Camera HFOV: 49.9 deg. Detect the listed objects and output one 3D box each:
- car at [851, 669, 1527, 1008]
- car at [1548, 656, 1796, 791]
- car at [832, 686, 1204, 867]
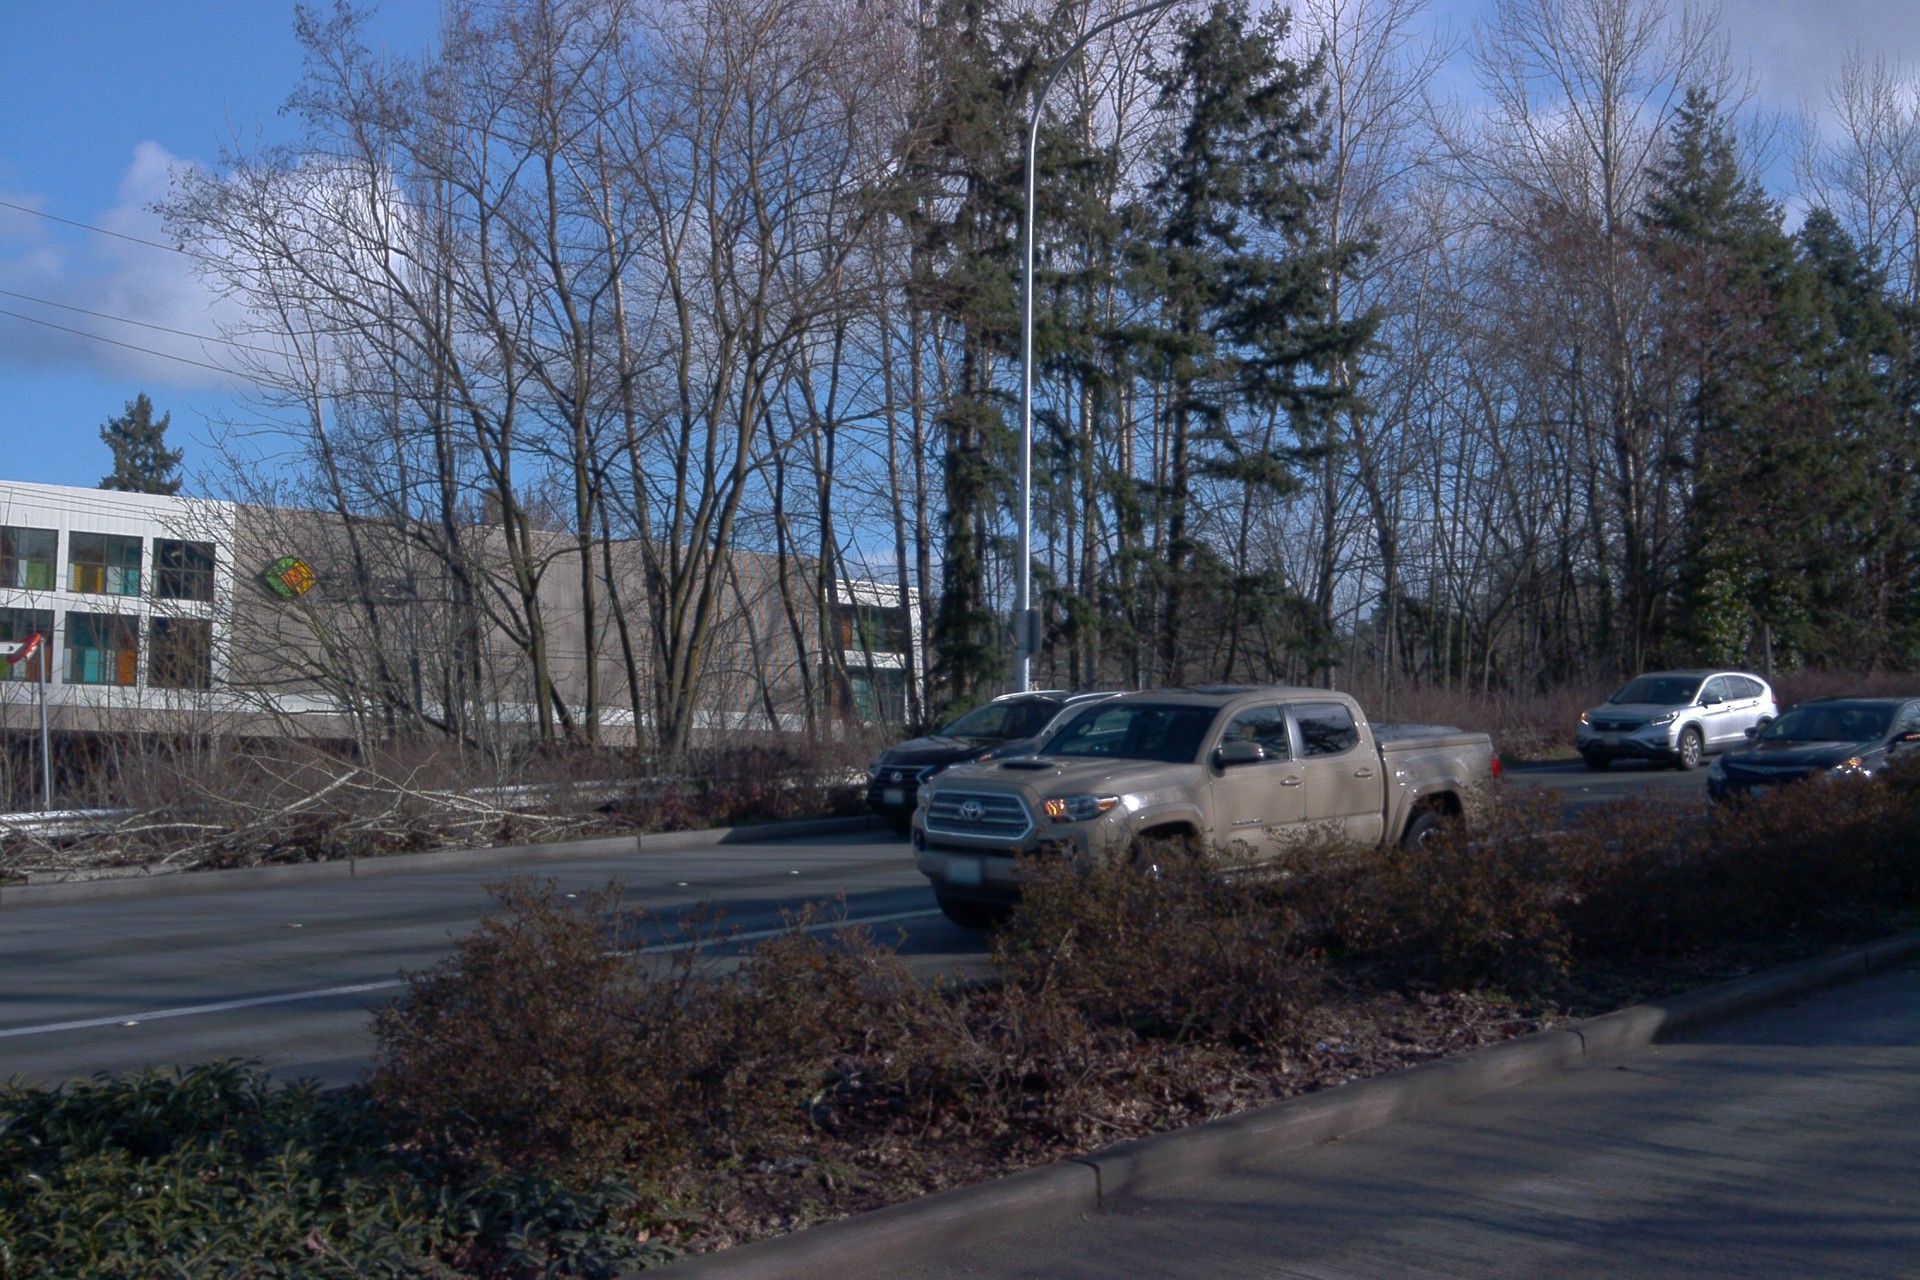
[{"bbox_3d":[1.938,1.306,15.901,5.398,2.020,2.288,-1,1,-45],"label":"car"},{"bbox_3d":[12.119,1.347,34.995,4.539,2.040,2.123,-1,1,-44],"label":"car"},{"bbox_3d":[0.751,1.509,24.208,2.004,1.770,4.243,1,1,45],"label":"car"}]
